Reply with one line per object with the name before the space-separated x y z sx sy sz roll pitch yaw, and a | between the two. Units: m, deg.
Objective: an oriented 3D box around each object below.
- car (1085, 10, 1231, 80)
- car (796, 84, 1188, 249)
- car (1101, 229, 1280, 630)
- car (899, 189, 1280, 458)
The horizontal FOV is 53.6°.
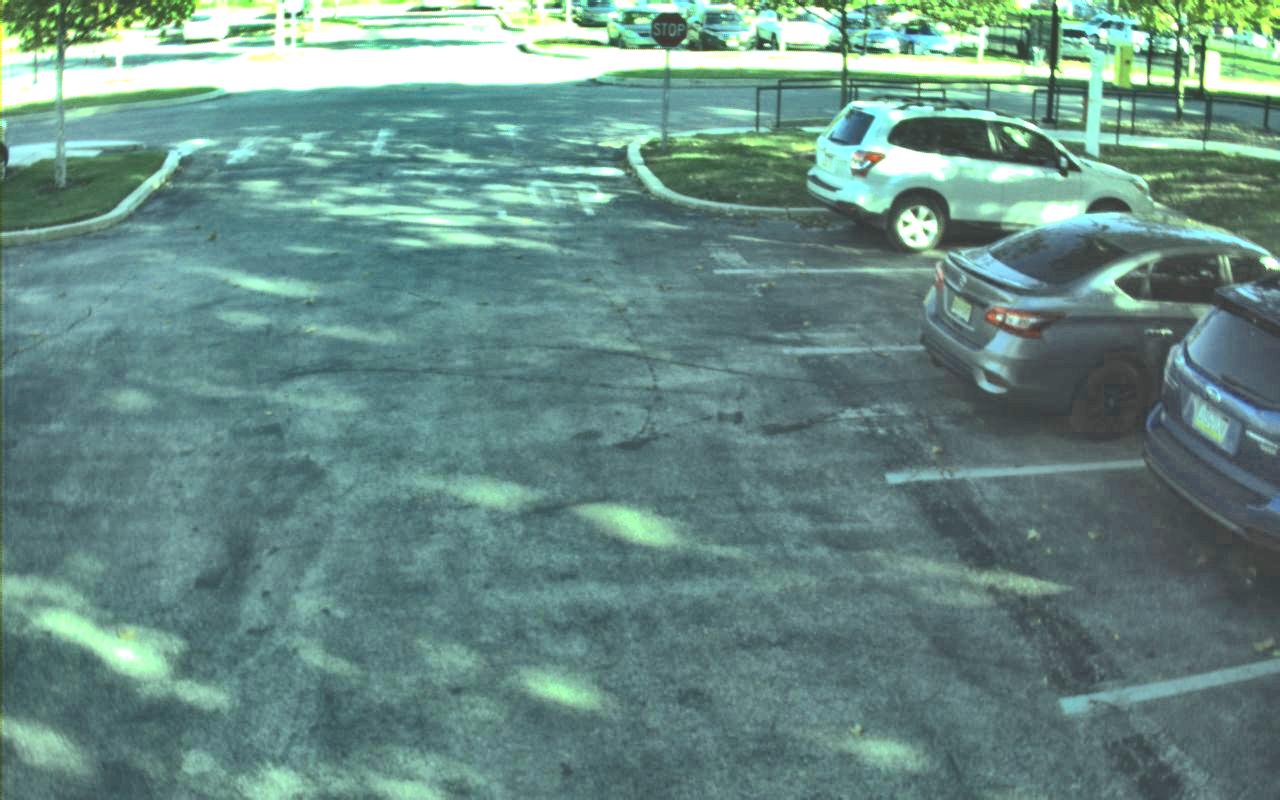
car | 17.084 -11.719 37.651 2.156 1.963 5.388 -6 17 -17
car | 4.391 -2.950 14.964 4.609 1.734 1.993 -4 16 -9
car | 5.289 -0.037 6.828 4.440 1.736 1.974 -4 16 -9
car | 4.447 -0.789 9.390 4.451 1.565 1.932 -4 17 -11
